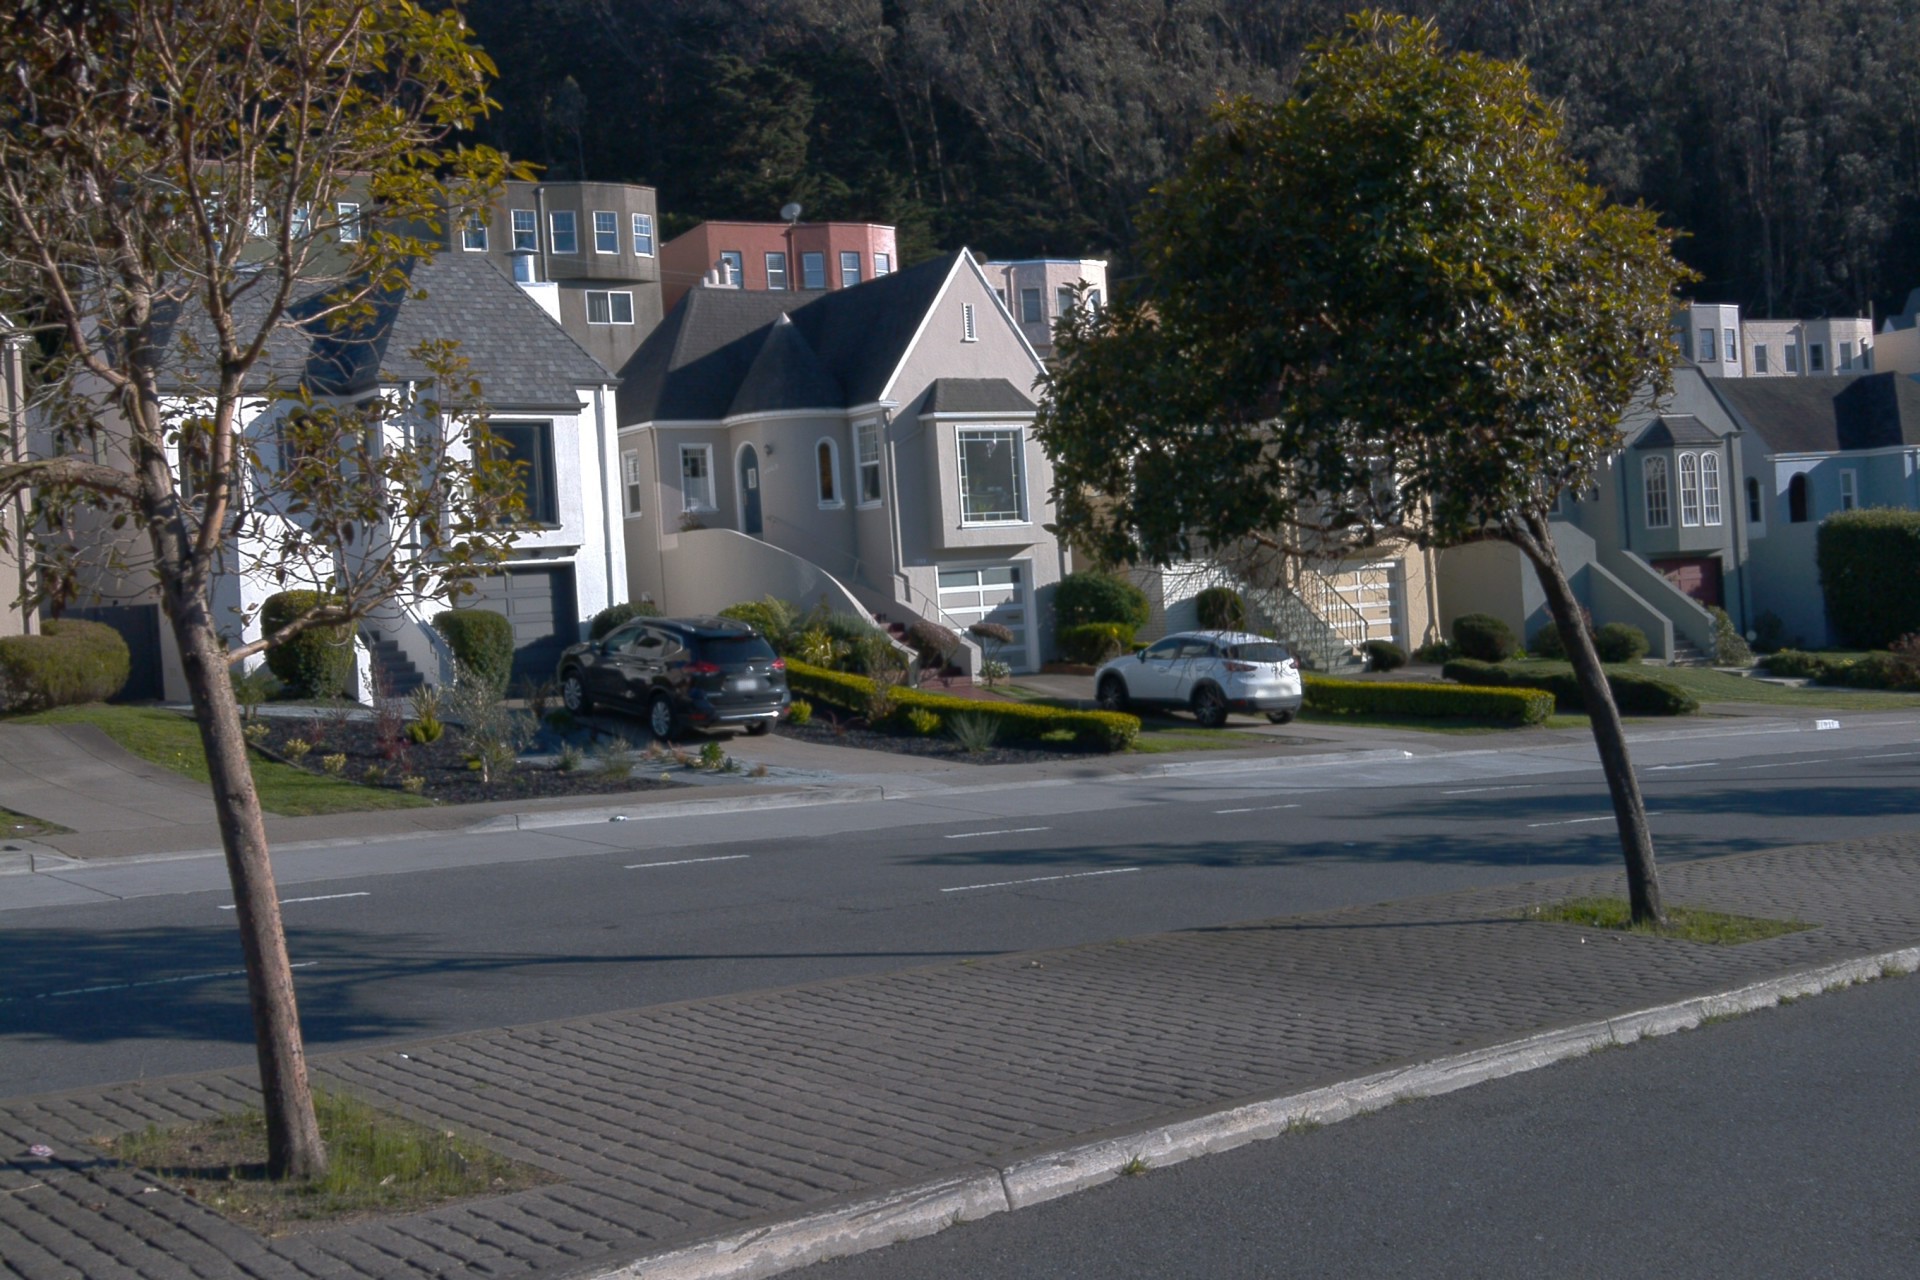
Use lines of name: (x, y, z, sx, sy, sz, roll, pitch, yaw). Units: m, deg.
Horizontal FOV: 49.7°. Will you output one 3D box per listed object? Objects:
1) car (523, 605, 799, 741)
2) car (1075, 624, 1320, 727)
car: (-4.490, 0.447, 30.719, 2.117, 1.860, 4.264, 0, 0, -40)
car: (3.956, 0.554, 35.153, 1.975, 1.630, 4.038, 0, 0, -34)
